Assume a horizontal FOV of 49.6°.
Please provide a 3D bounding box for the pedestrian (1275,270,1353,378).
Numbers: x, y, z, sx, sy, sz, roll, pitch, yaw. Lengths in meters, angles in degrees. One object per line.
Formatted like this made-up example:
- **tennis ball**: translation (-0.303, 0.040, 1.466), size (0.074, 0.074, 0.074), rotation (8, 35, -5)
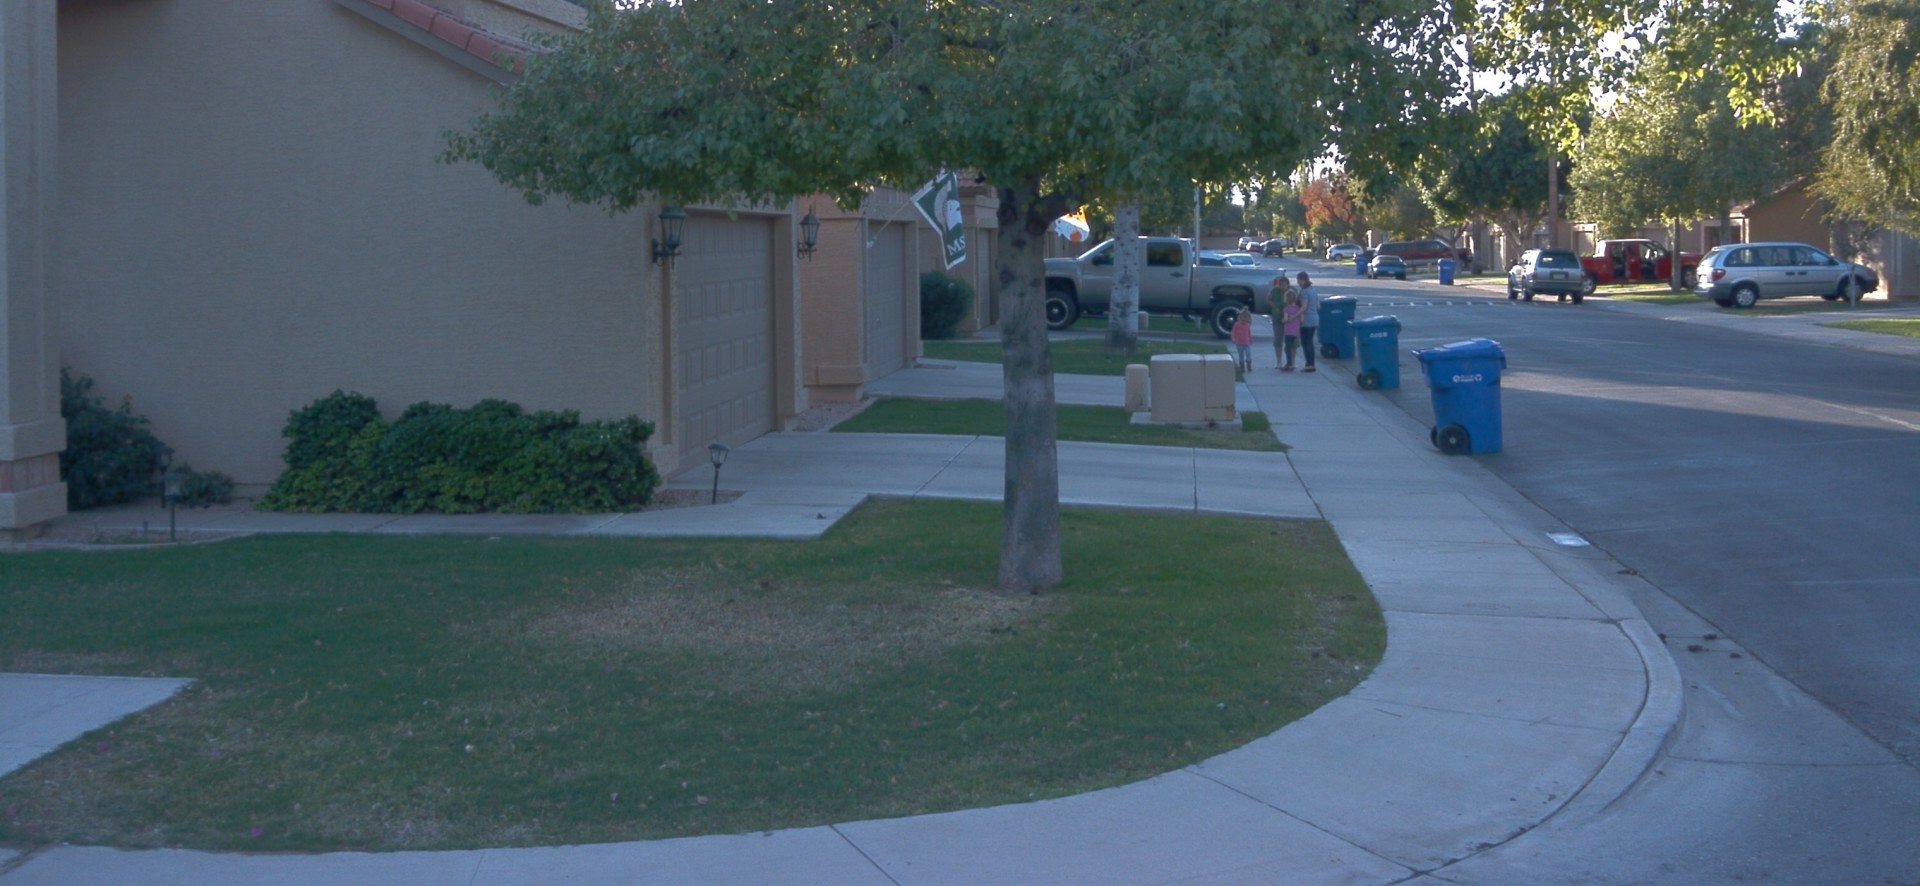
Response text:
- **pedestrian**: translation (5.507, -1.863, 32.307), size (0.948, 1.617, 0.756), rotation (-2, 3, -41)

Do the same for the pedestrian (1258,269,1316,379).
- **pedestrian**: translation (5.204, -1.902, 33.003), size (0.775, 1.687, 0.750), rotation (1, 2, 20)
